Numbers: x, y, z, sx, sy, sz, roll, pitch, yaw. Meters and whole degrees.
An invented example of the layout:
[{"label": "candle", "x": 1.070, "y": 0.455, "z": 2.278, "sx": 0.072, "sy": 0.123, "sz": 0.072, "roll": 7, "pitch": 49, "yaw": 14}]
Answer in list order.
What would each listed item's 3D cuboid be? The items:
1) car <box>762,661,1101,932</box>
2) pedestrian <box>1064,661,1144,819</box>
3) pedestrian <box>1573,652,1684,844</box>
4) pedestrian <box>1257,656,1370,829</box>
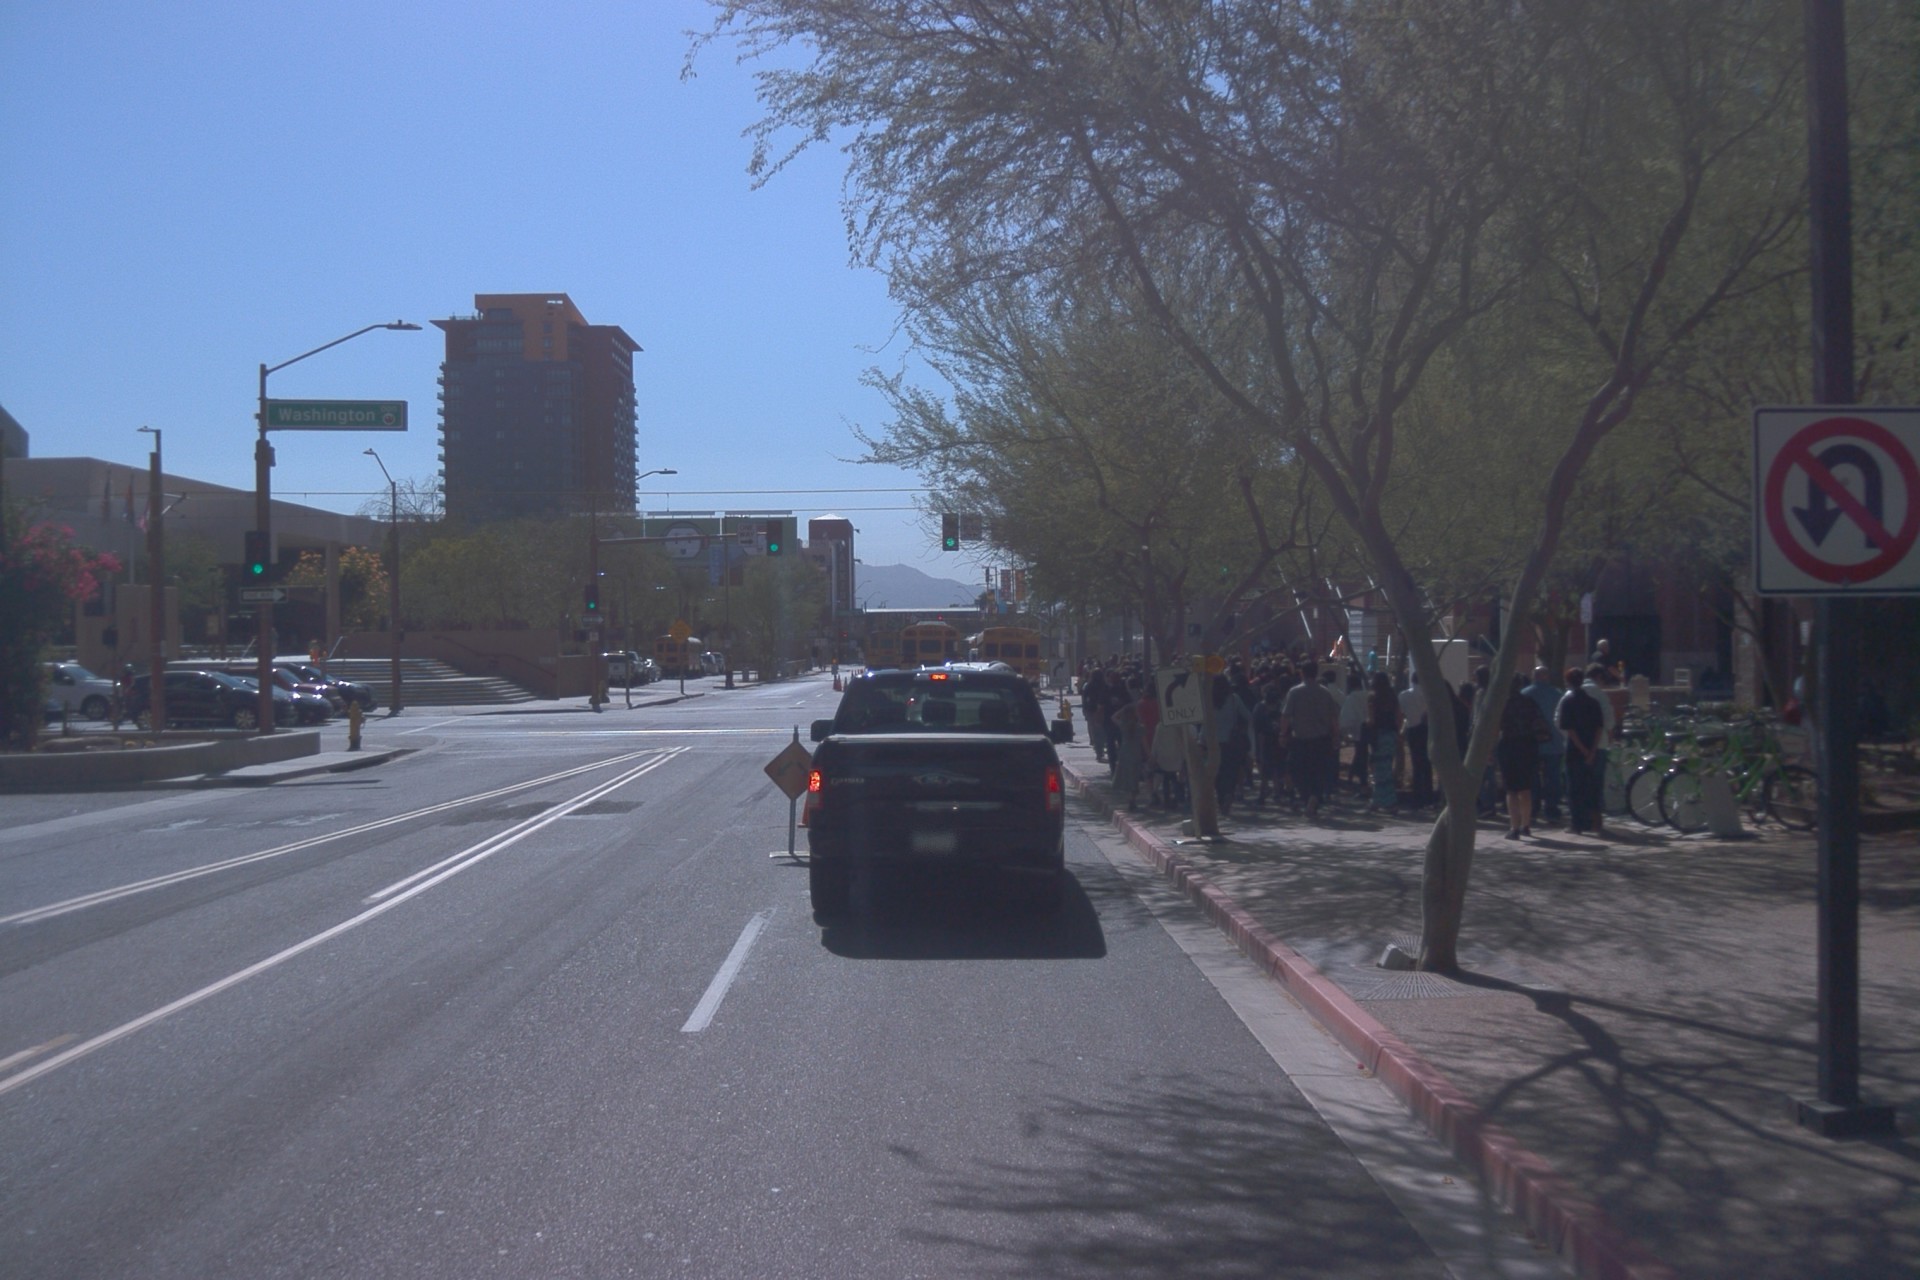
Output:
[{"label": "car", "x": -0.164, "y": 1.178, "z": 17.971, "sx": 2.487, "sy": 1.950, "sz": 5.329, "roll": 0, "pitch": 0, "yaw": 1}, {"label": "pedestrian", "x": 1.784, "y": 1.219, "z": 25.745, "sx": 0.959, "sy": 1.900, "sz": 0.880, "roll": 0, "pitch": 0, "yaw": 5}, {"label": "pedestrian", "x": 6.701, "y": 1.066, "z": 20.880, "sx": 0.835, "sy": 1.880, "sz": 0.792, "roll": 0, "pitch": 0, "yaw": -1}, {"label": "pedestrian", "x": 3.965, "y": 1.135, "z": 23.378, "sx": 0.958, "sy": 1.900, "sz": 0.881, "roll": 0, "pitch": 0, "yaw": -15}]
